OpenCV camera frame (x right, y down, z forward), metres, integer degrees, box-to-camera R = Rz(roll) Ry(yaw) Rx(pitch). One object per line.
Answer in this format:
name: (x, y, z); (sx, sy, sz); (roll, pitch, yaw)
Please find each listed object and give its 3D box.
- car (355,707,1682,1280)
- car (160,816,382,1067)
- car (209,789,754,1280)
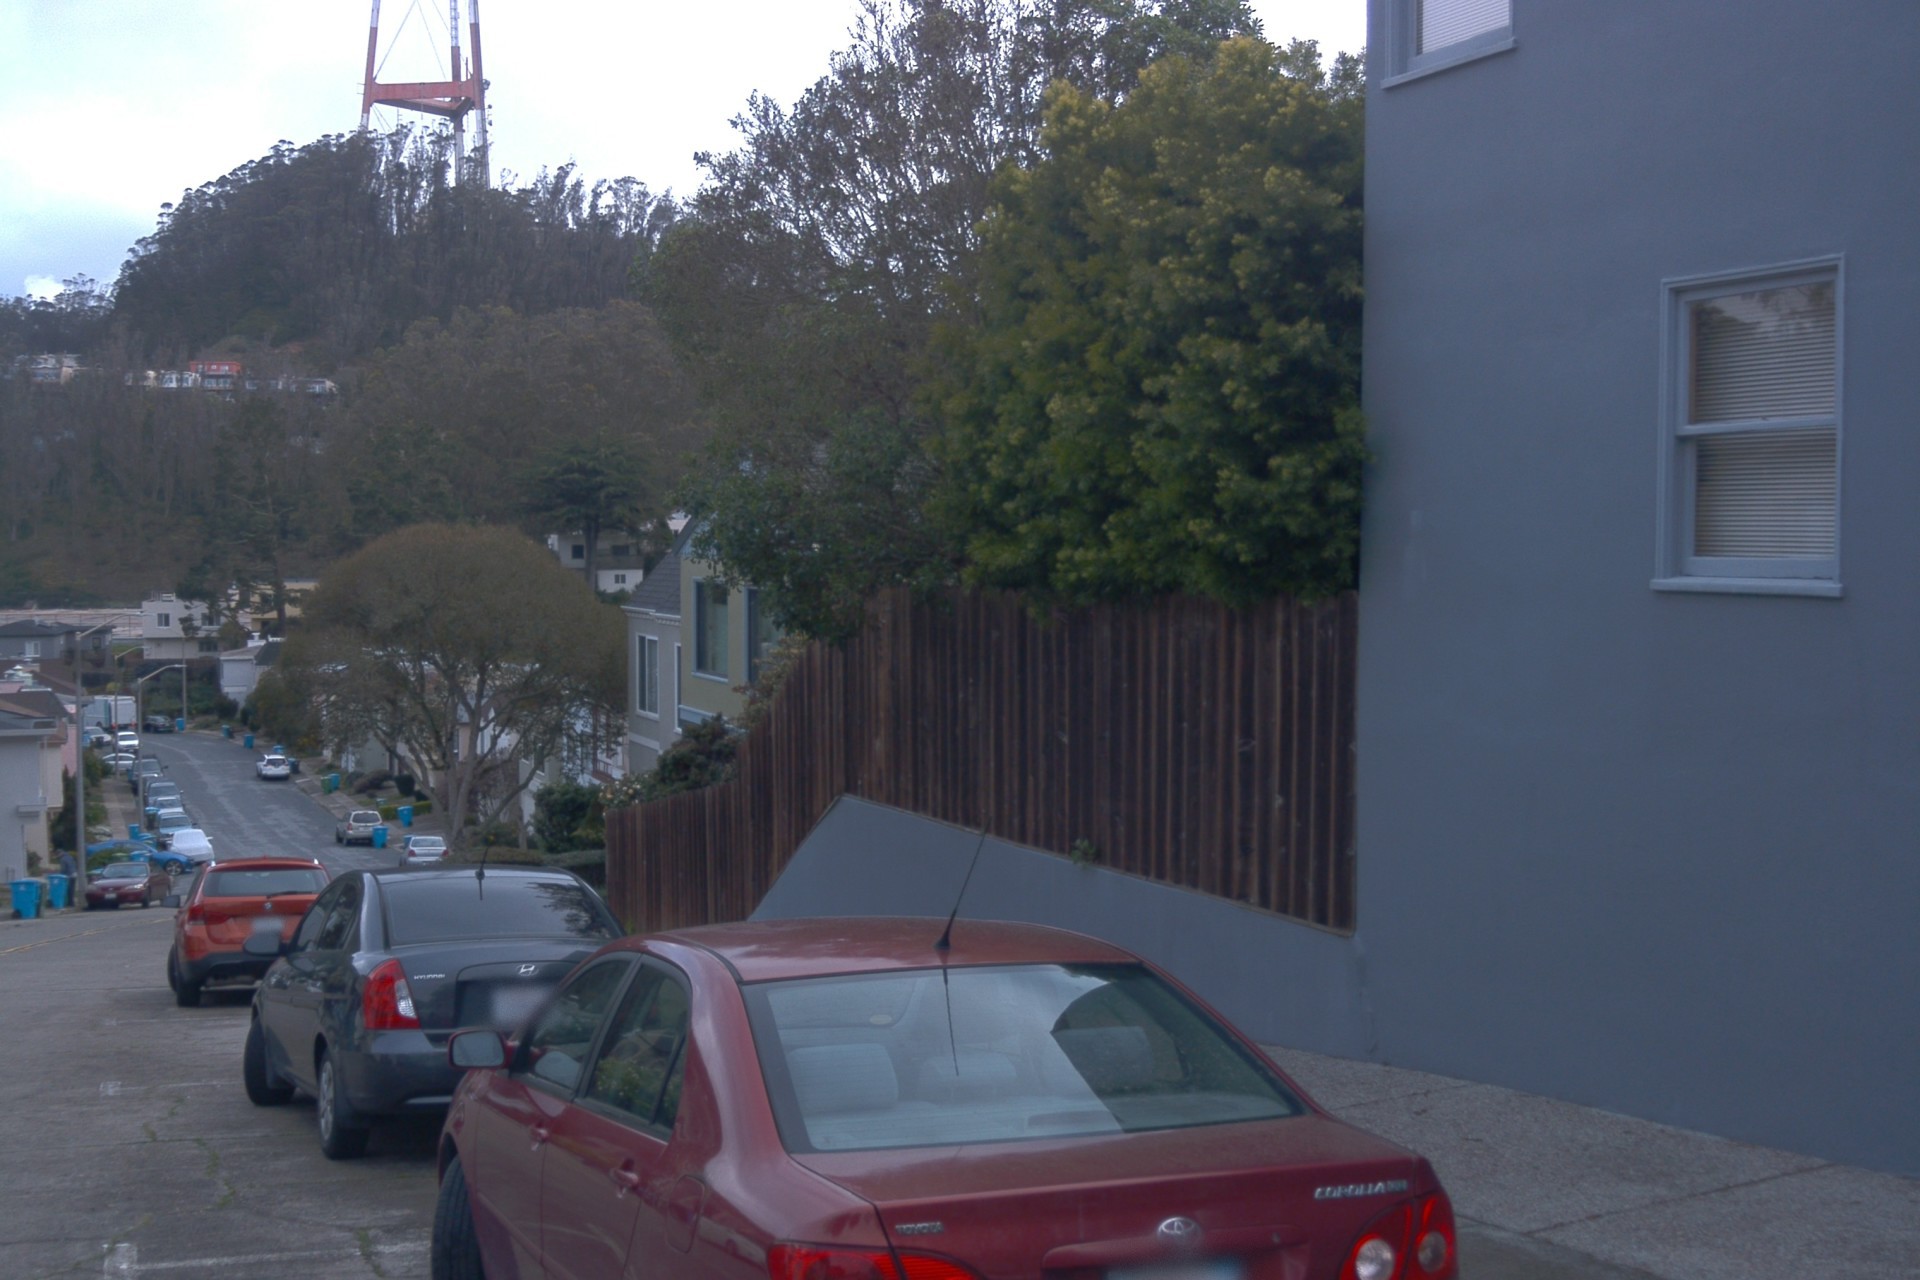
car: (-0.395, 1.347, 6.210); (2.060, 2.152, 4.792); (1, 0, -24)
car: (-7.702, 3.181, 23.211); (2.103, 2.060, 4.773); (1, 0, -20)
car: (-2.934, 1.986, 11.966); (2.122, 1.950, 4.411); (1, 0, -25)
